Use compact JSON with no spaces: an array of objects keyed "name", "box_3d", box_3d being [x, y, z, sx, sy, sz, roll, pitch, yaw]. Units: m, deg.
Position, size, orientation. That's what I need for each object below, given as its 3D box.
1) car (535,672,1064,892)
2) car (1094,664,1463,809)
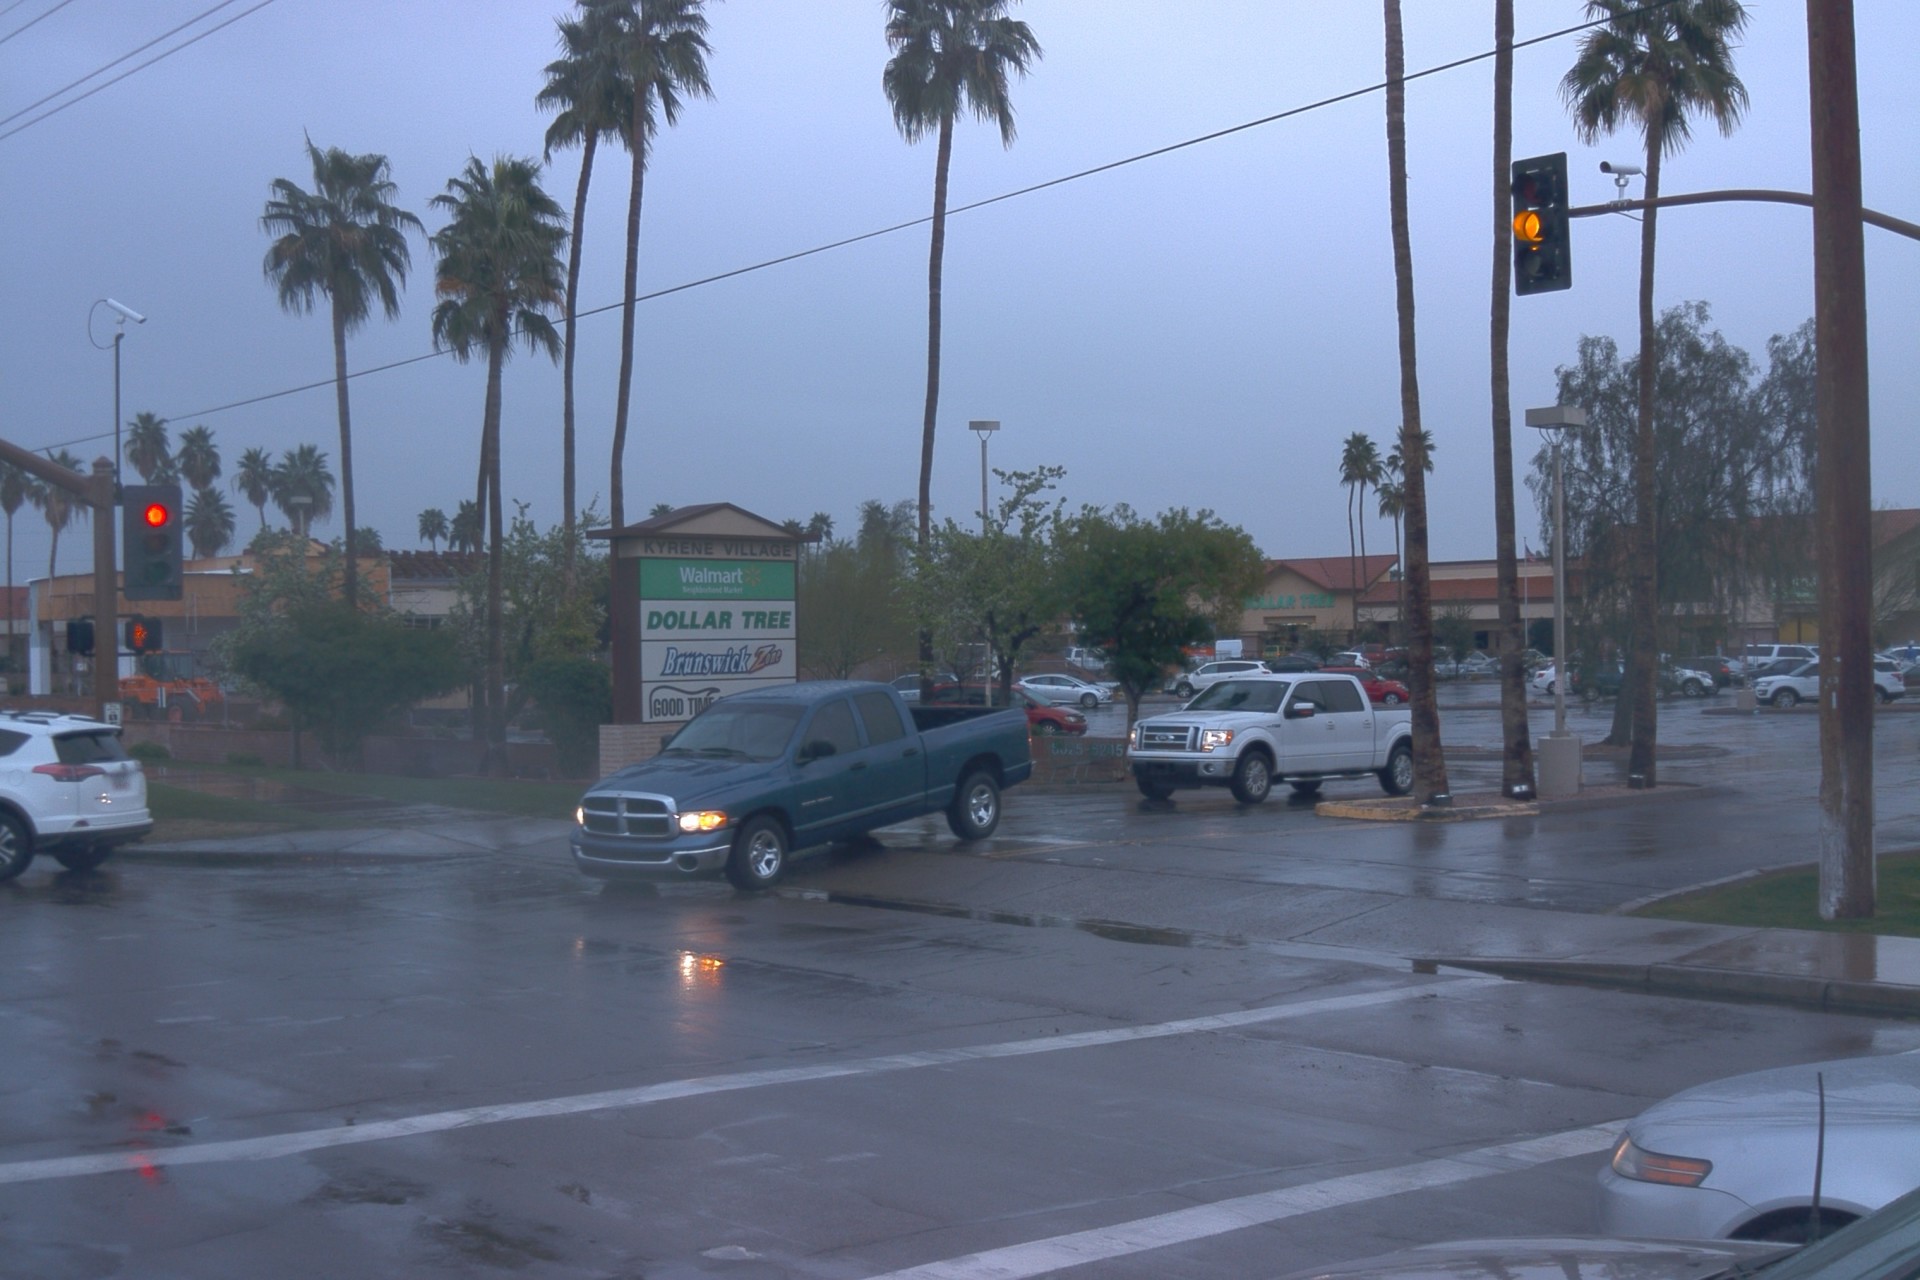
[{"name":"car","box_3d":[-1.514,1.355,22.237,2.433,2.000,5.768,0,-1,37]},{"name":"car","box_3d":[4.919,1.353,31.486,5.840,1.980,2.534,1,-1,-45]}]
